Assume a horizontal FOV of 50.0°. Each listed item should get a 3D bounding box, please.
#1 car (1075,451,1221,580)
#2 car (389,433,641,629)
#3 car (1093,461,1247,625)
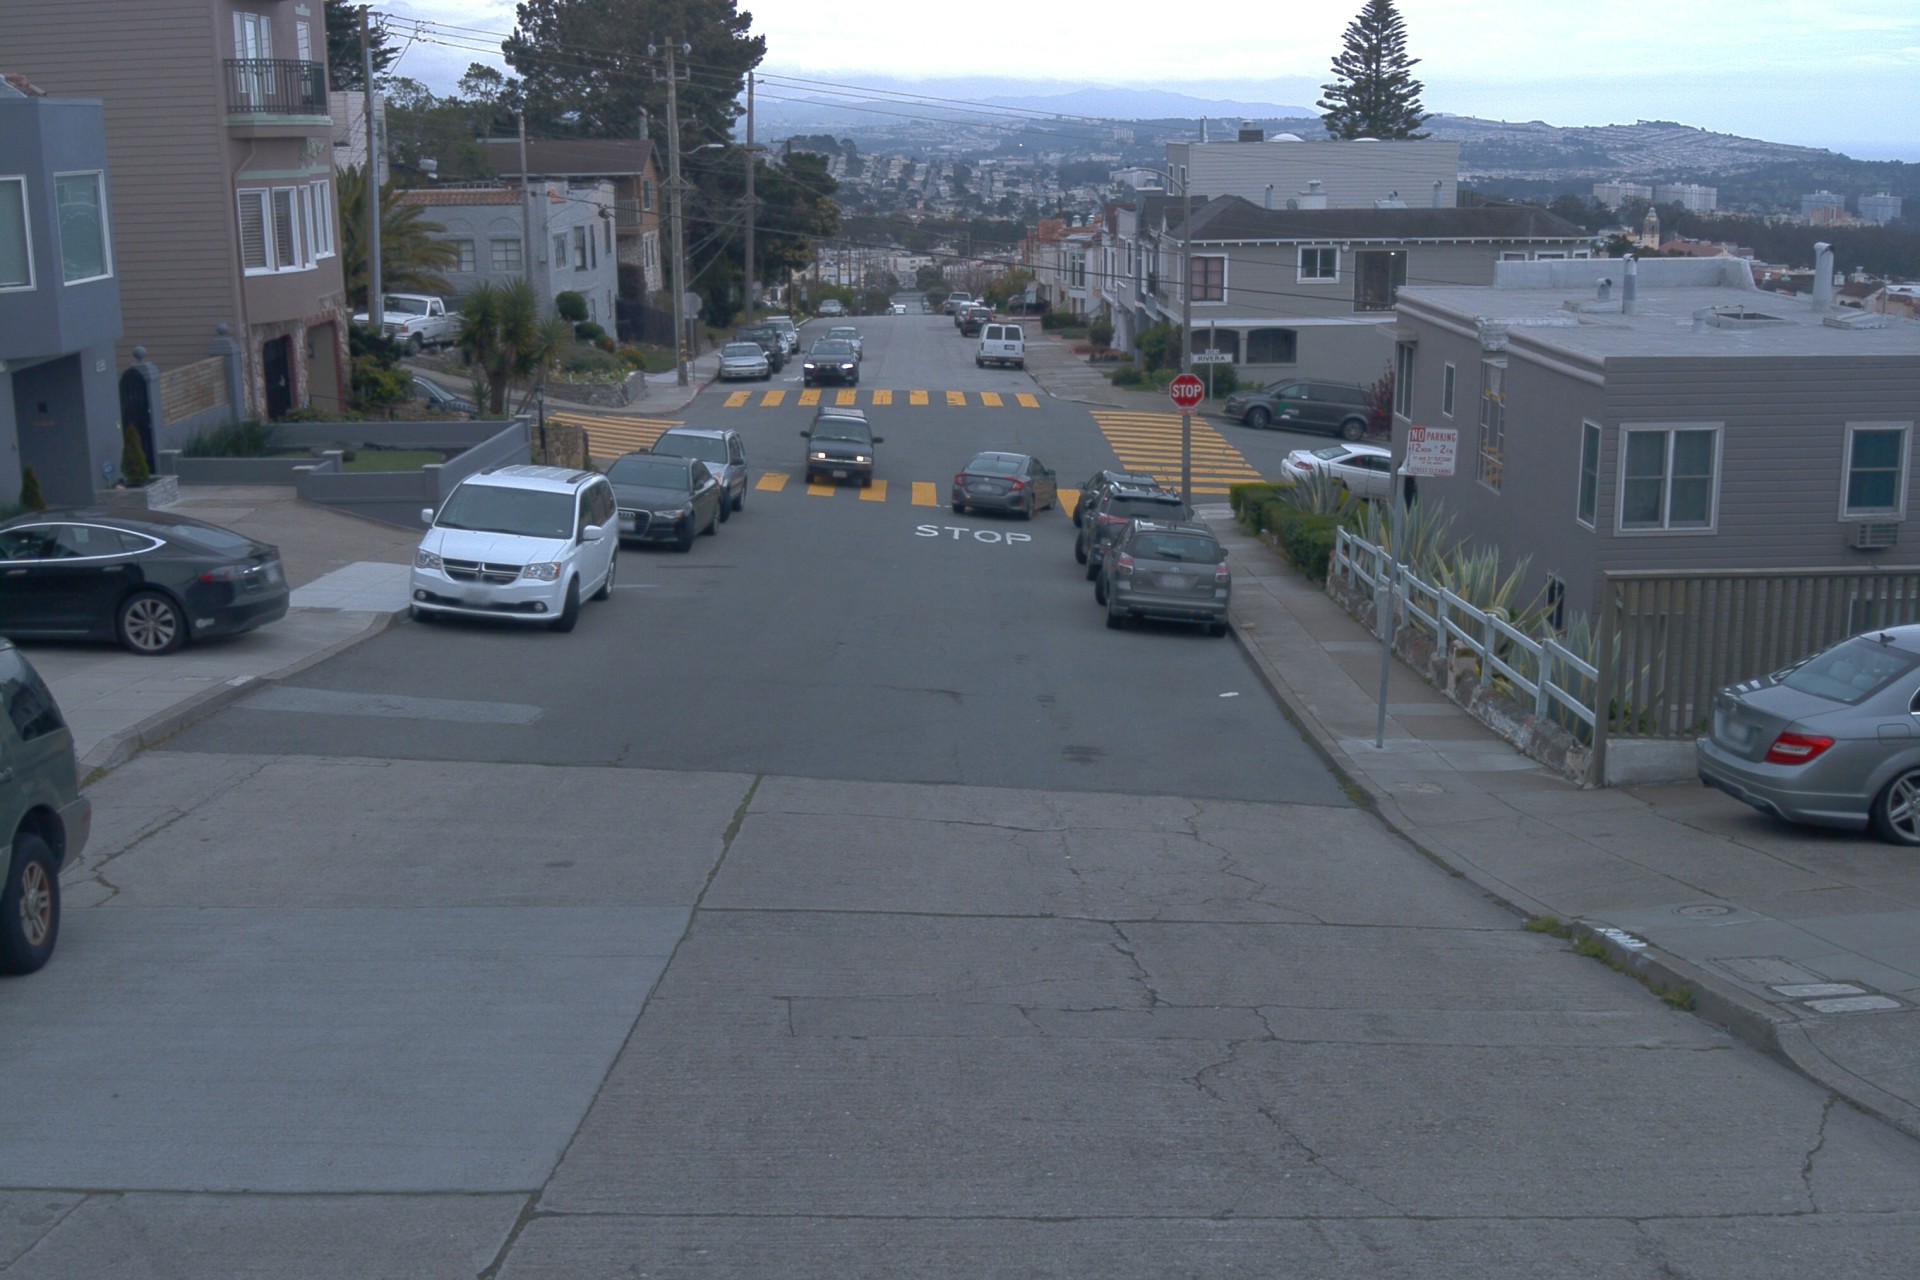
[{"bbox_3d":[3.262,-2.141,36.640,2.279,1.990,4.876,0,0,1],"label":"car"},{"bbox_3d":[-5.516,-1.268,26.257,2.251,2.231,4.981,0,0,-2],"label":"car"},{"bbox_3d":[3.053,-1.360,30.755,2.100,2.230,4.506,0,0,3],"label":"car"}]
